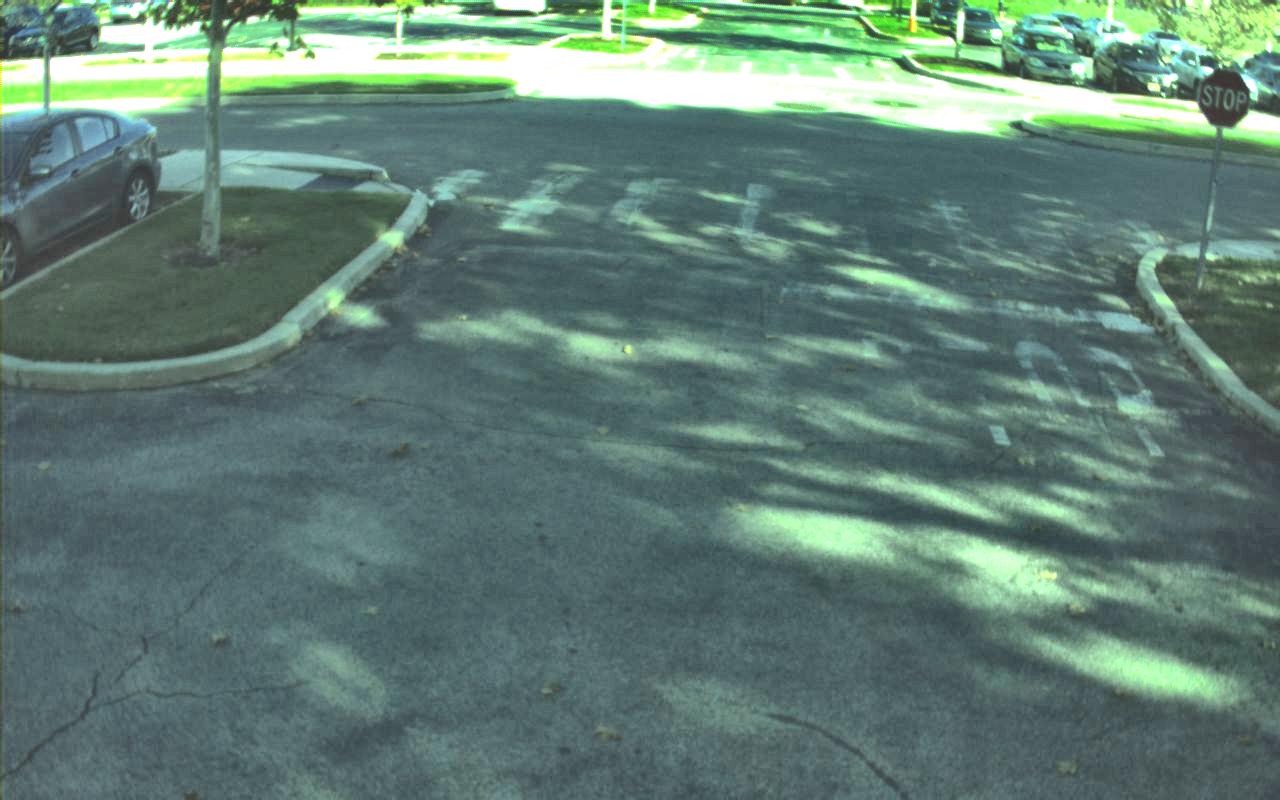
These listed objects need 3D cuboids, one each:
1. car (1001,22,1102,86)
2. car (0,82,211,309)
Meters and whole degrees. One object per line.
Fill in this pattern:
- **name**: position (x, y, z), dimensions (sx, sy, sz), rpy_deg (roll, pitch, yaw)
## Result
- **car**: position (11.853, -10.019, 34.064), dimensions (1.988, 1.651, 4.574), rpy_deg (0, 17, 5)
- **car**: position (-6.278, -2.201, 11.514), dimensions (1.952, 1.594, 4.540), rpy_deg (1, 17, 9)
